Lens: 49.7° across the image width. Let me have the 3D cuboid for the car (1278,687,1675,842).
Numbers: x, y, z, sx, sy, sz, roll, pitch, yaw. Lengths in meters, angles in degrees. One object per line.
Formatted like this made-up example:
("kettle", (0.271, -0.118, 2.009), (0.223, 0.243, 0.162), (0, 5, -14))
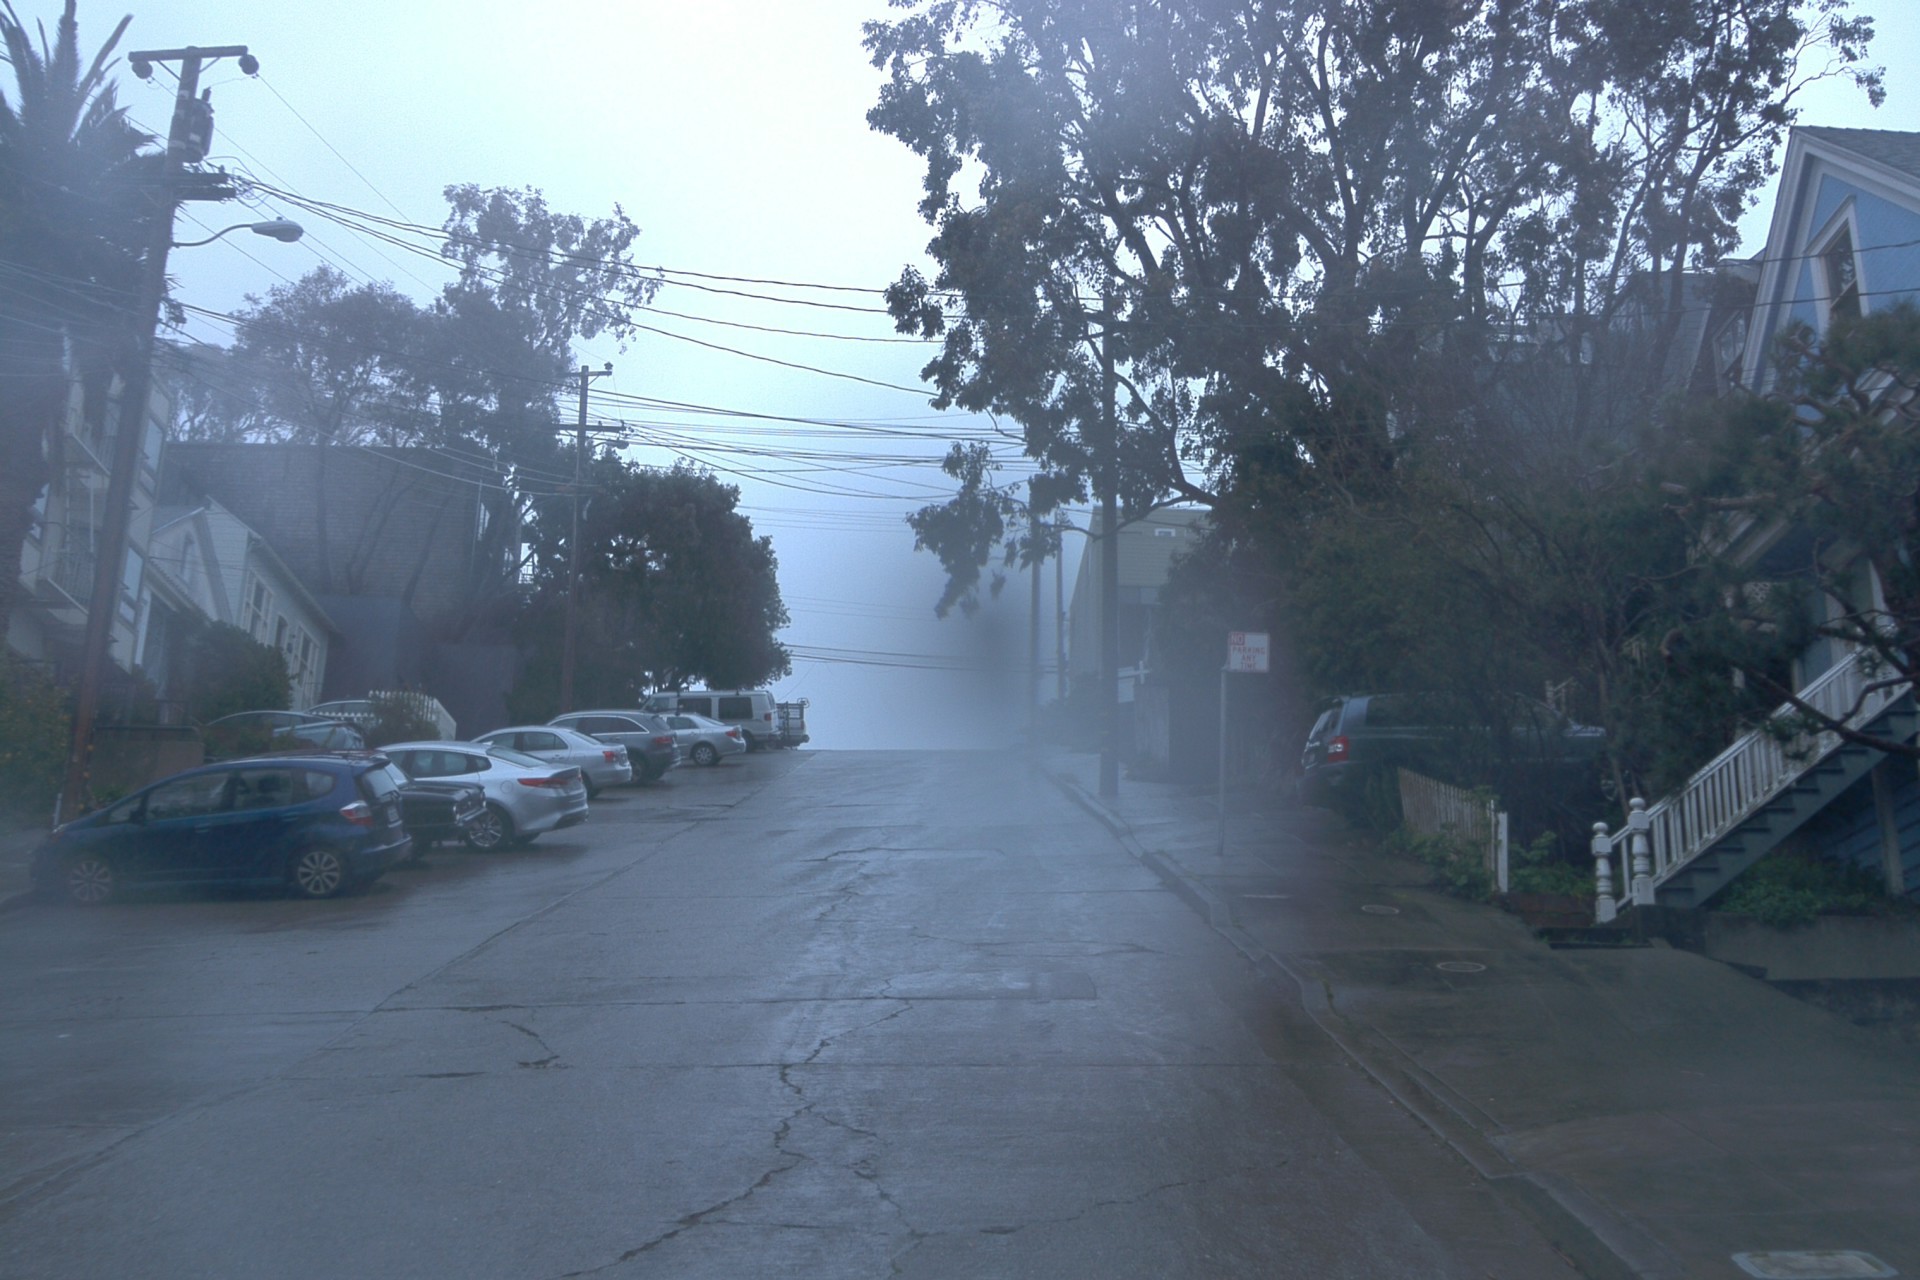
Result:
("car", (6.470, 1.534, 26.272), (4.464, 1.836, 2.040), (0, 0, -4))

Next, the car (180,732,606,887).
("car", (-7.525, 2.228, 27.837), (5.068, 1.890, 2.226), (0, 0, 4))

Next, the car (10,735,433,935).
("car", (-7.946, 2.070, 22.569), (3.852, 1.970, 2.105), (0, 0, 2))
